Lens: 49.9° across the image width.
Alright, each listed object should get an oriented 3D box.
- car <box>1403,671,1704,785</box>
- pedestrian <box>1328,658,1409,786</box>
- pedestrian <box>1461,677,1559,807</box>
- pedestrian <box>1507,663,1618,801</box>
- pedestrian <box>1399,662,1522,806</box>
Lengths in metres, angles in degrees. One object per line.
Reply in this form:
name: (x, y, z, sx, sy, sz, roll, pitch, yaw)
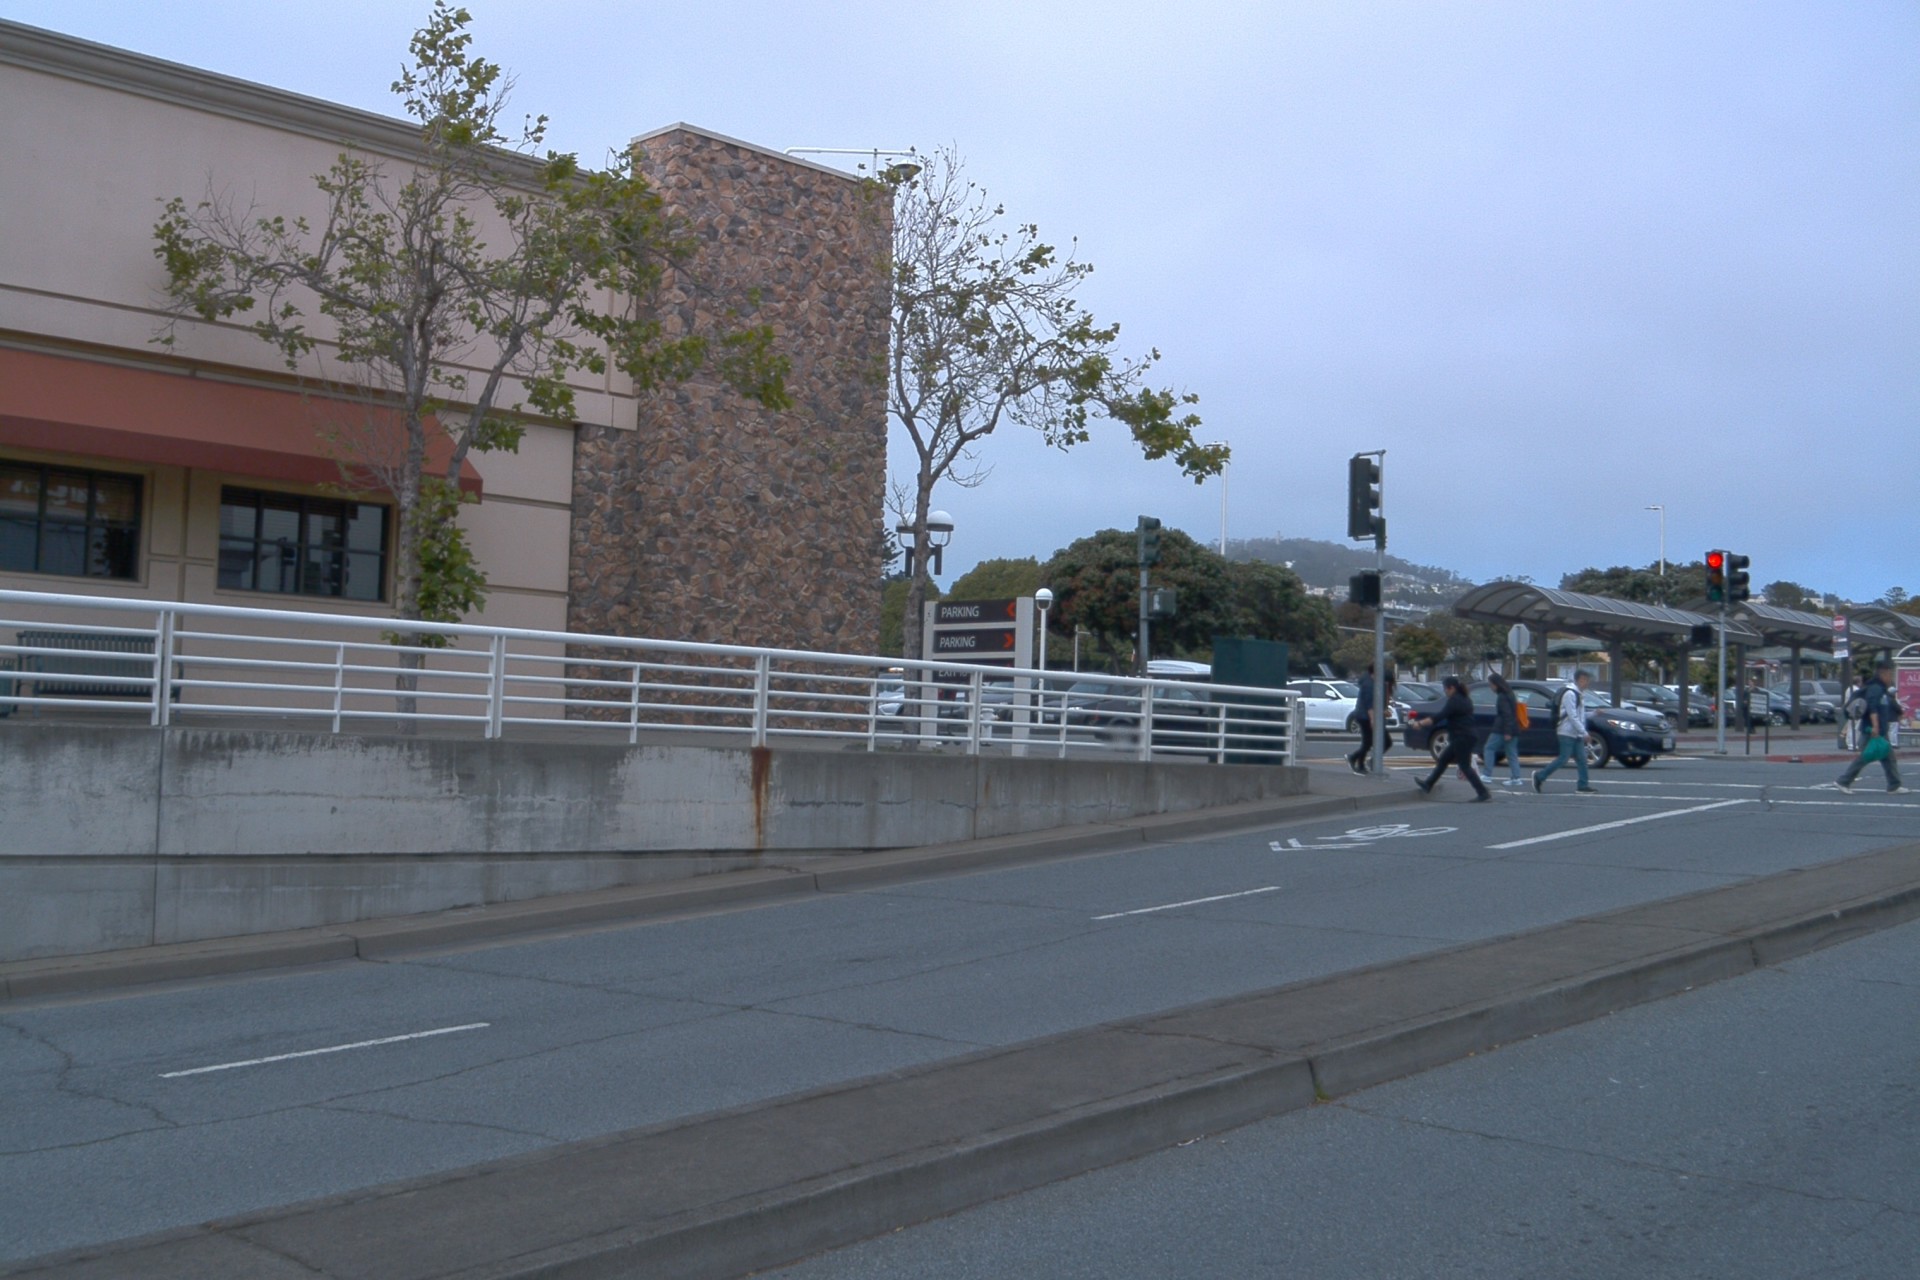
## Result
car: (9.844, 1.404, 34.454, 4.437, 1.650, 1.948, 1, 1, 44)
pedestrian: (5.403, 1.067, 27.300, 0.993, 1.650, 0.667, 0, 1, 16)
pedestrian: (7.539, 1.379, 28.282, 1.080, 1.690, 0.926, 0, 1, 30)
pedestrian: (7.667, 1.146, 26.263, 1.048, 1.670, 0.929, 1, 1, 43)
pedestrian: (6.144, 1.122, 25.292, 1.121, 1.670, 1.227, 0, 1, 33)
